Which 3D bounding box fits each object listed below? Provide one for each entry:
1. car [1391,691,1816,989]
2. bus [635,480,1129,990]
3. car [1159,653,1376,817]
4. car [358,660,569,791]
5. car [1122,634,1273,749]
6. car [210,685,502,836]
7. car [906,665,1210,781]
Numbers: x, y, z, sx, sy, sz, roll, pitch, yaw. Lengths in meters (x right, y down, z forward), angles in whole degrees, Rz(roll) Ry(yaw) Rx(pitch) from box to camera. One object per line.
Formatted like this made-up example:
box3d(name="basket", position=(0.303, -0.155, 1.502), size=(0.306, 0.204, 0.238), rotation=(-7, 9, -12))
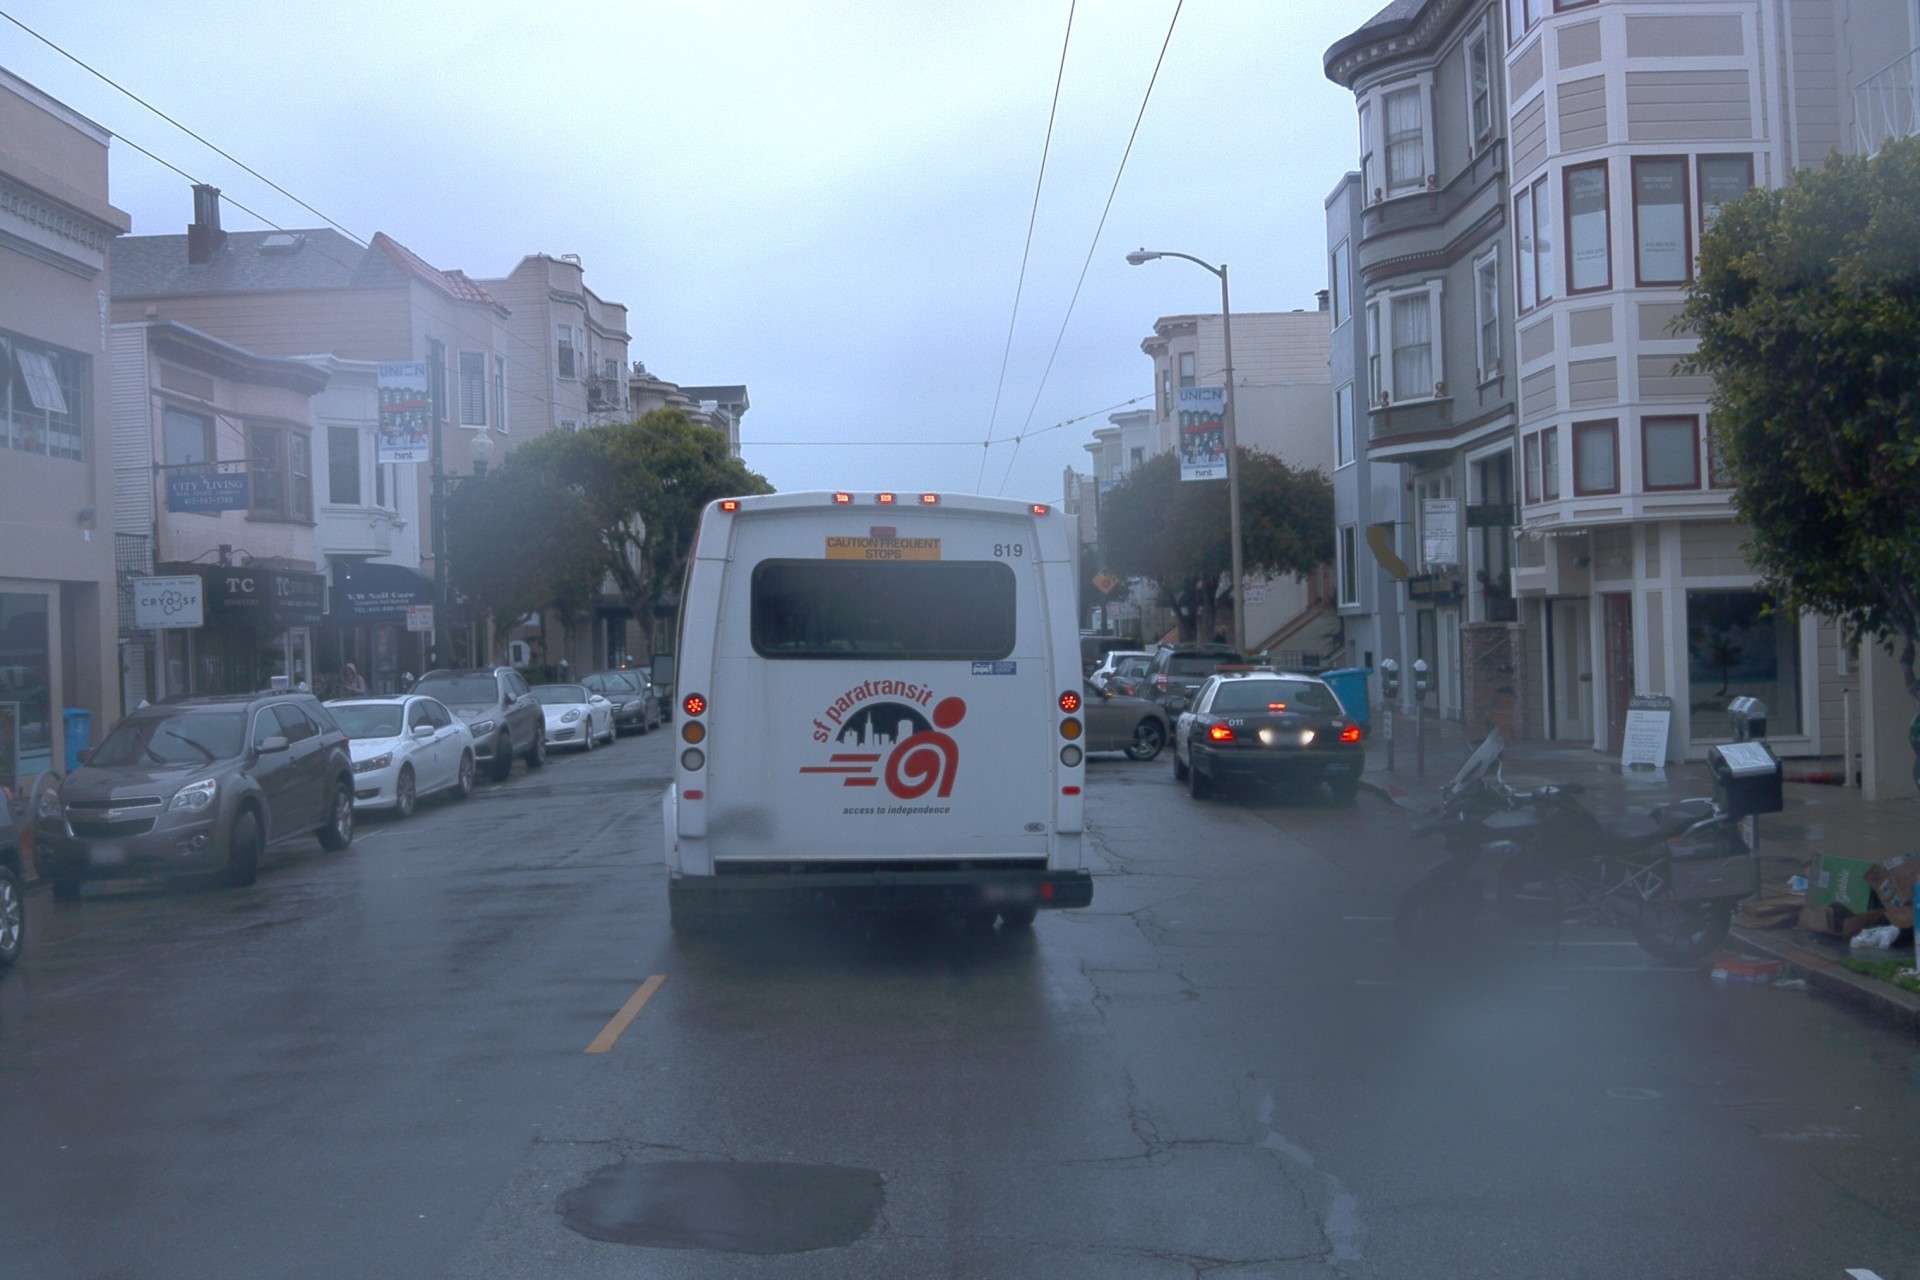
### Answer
box3d(name="car", position=(3.873, 1.175, 12.646), size=(2.374, 1.650, 1.013), rotation=(1, 1, 12))
box3d(name="bus", position=(-0.902, 0.505, 15.015), size=(2.785, 2.850, 6.711), rotation=(0, 1, -8))
box3d(name="car", position=(3.642, 1.065, 25.359), size=(2.108, 1.690, 5.363), rotation=(1, 1, 3))
box3d(name="car", position=(-7.555, 1.244, 31.890), size=(2.149, 1.760, 4.917), rotation=(1, 1, -1))
box3d(name="car", position=(4.005, 0.827, 35.457), size=(2.116, 1.790, 4.480), rotation=(1, 1, 1))
box3d(name="car", position=(-7.515, 1.442, 26.246), size=(2.131, 1.540, 5.132), rotation=(1, 1, 1))
box3d(name="car", position=(1.495, 1.148, 30.037), size=(4.446, 1.470, 1.882), rotation=(0, 1, -44))
